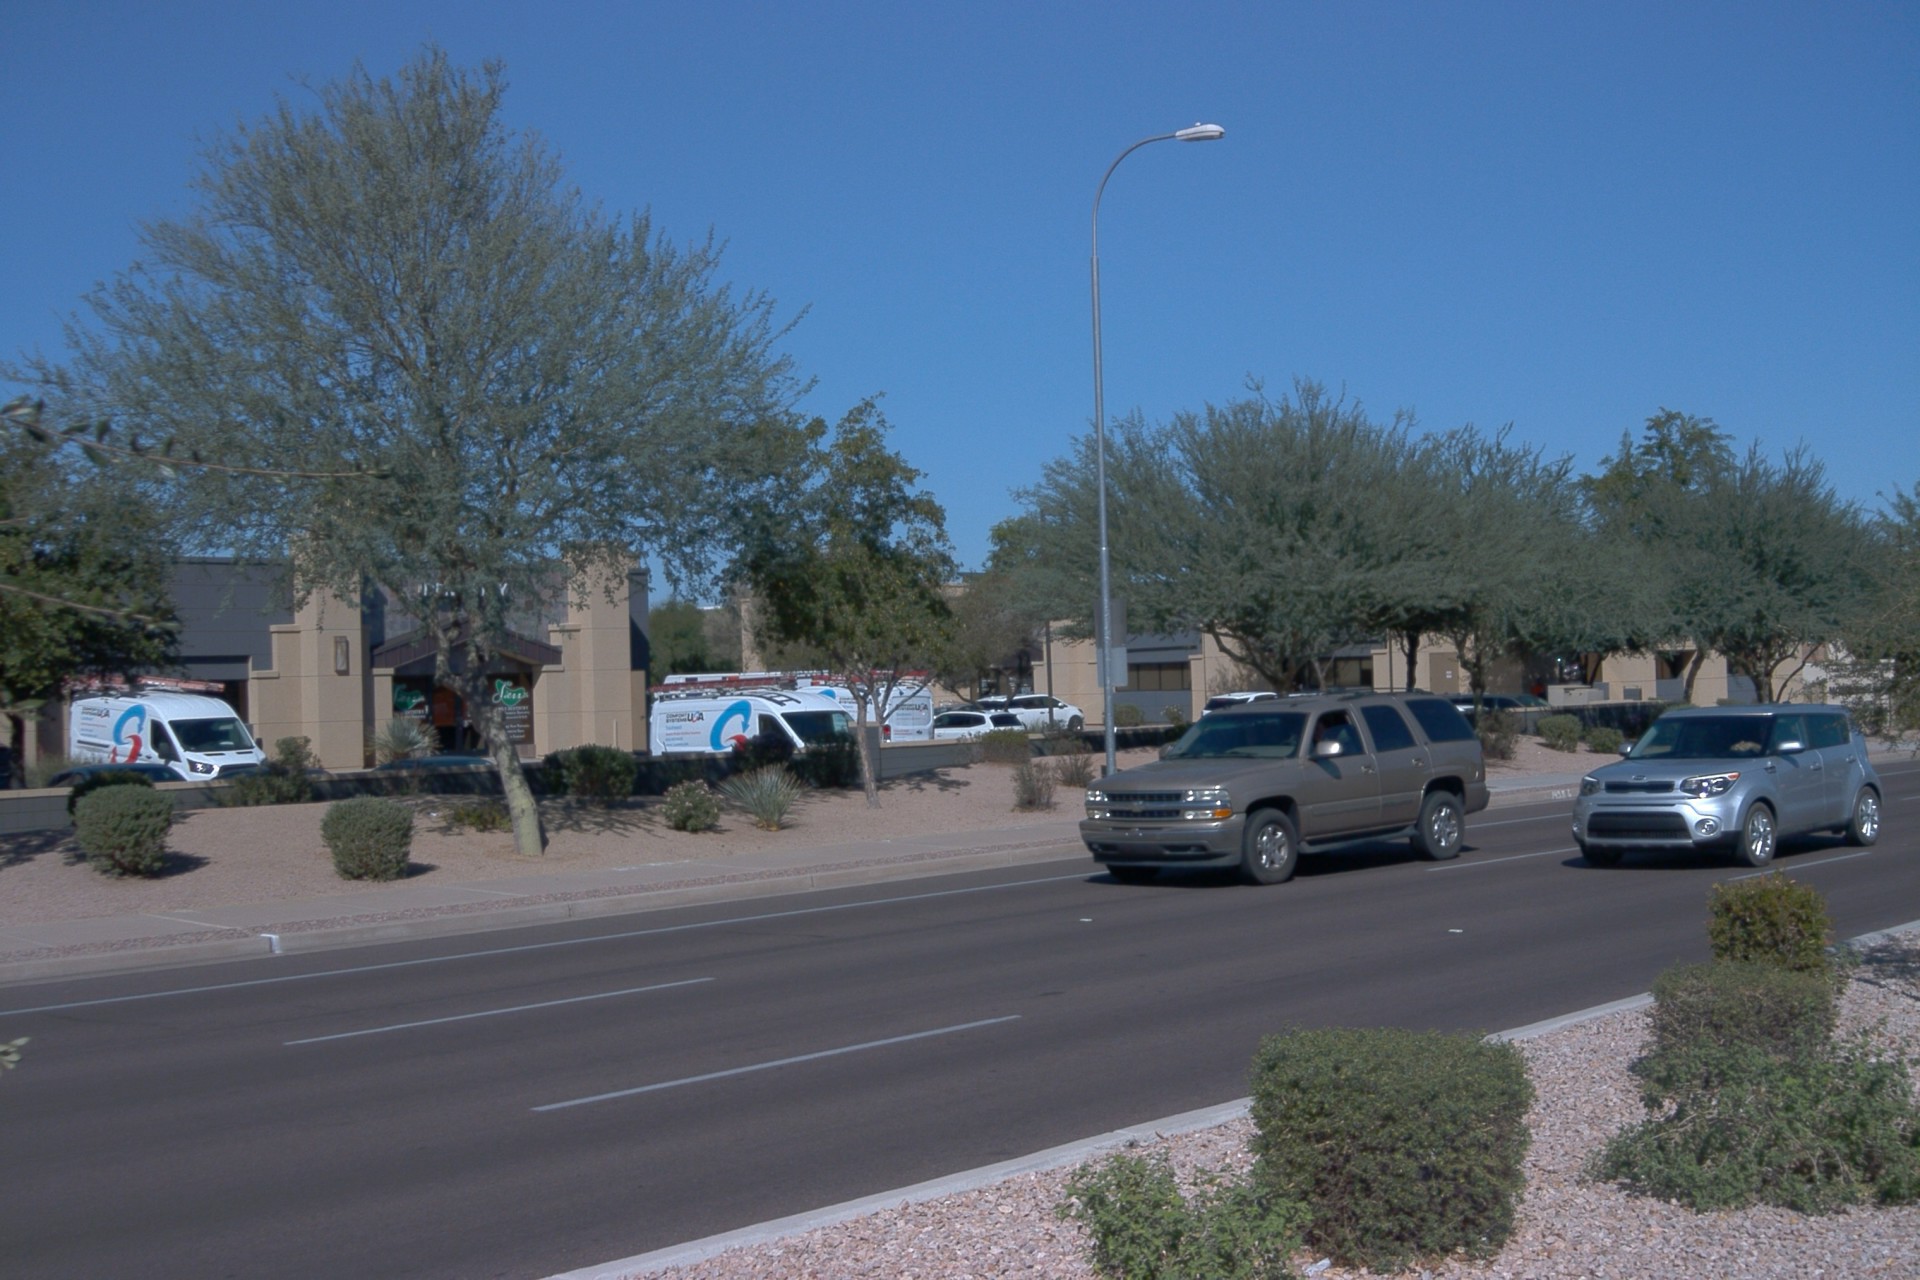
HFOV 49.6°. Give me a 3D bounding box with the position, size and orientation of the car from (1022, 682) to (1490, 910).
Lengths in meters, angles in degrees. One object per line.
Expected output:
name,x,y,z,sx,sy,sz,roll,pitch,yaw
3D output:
car,3.283,1.536,22.364,5.041,2.050,2.400,0,0,-44

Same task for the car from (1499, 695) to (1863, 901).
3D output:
car,7.461,1.512,21.330,4.064,1.790,1.931,0,0,-45
